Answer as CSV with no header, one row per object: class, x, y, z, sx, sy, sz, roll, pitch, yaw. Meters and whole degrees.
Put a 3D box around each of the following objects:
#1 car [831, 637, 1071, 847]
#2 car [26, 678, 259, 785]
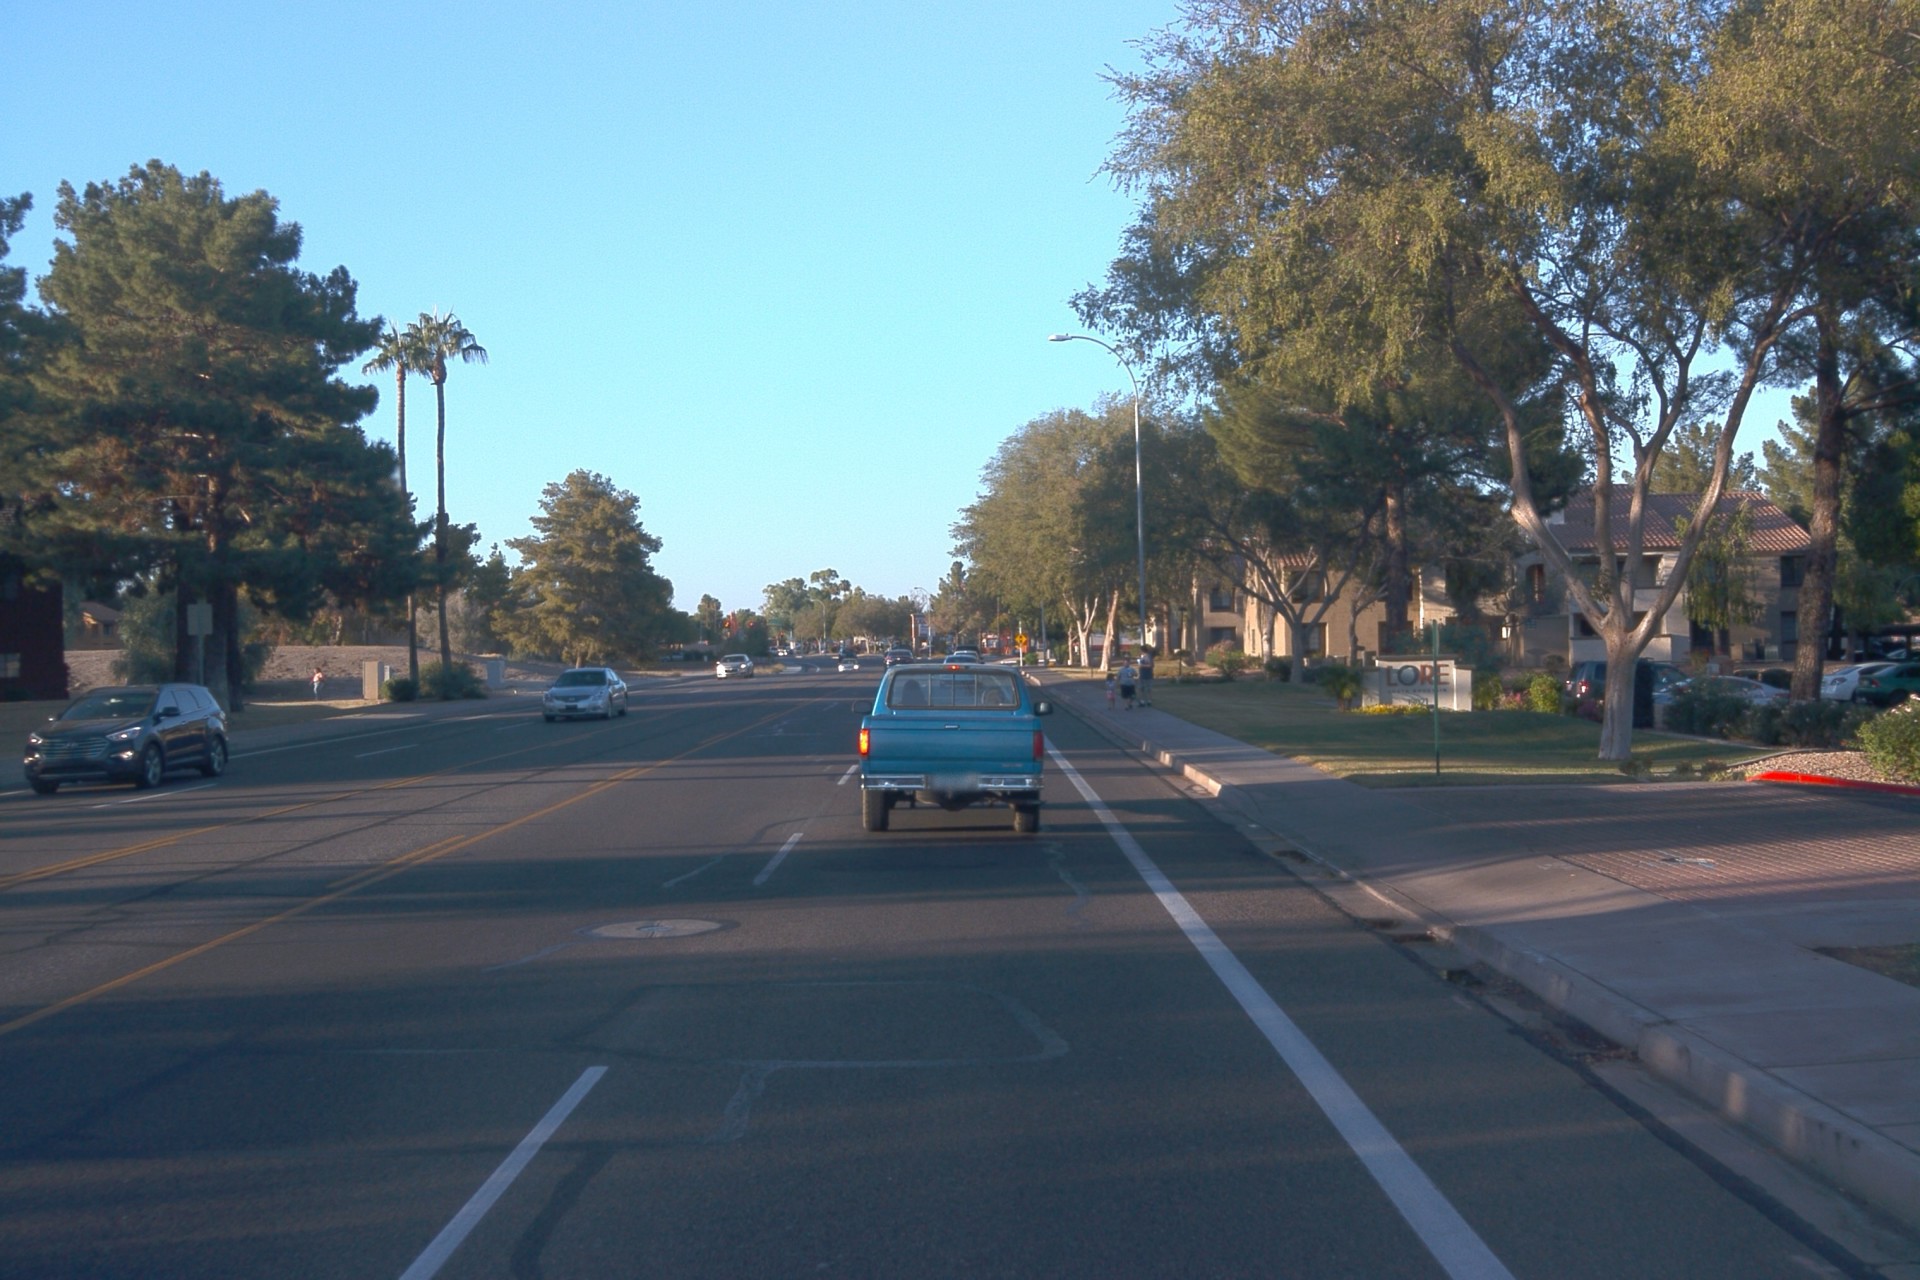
car,-0.059,1.054,23.991,2.459,2.150,5.428,0,0,1
car,-13.714,1.482,35.058,2.036,1.600,4.811,0,0,0
